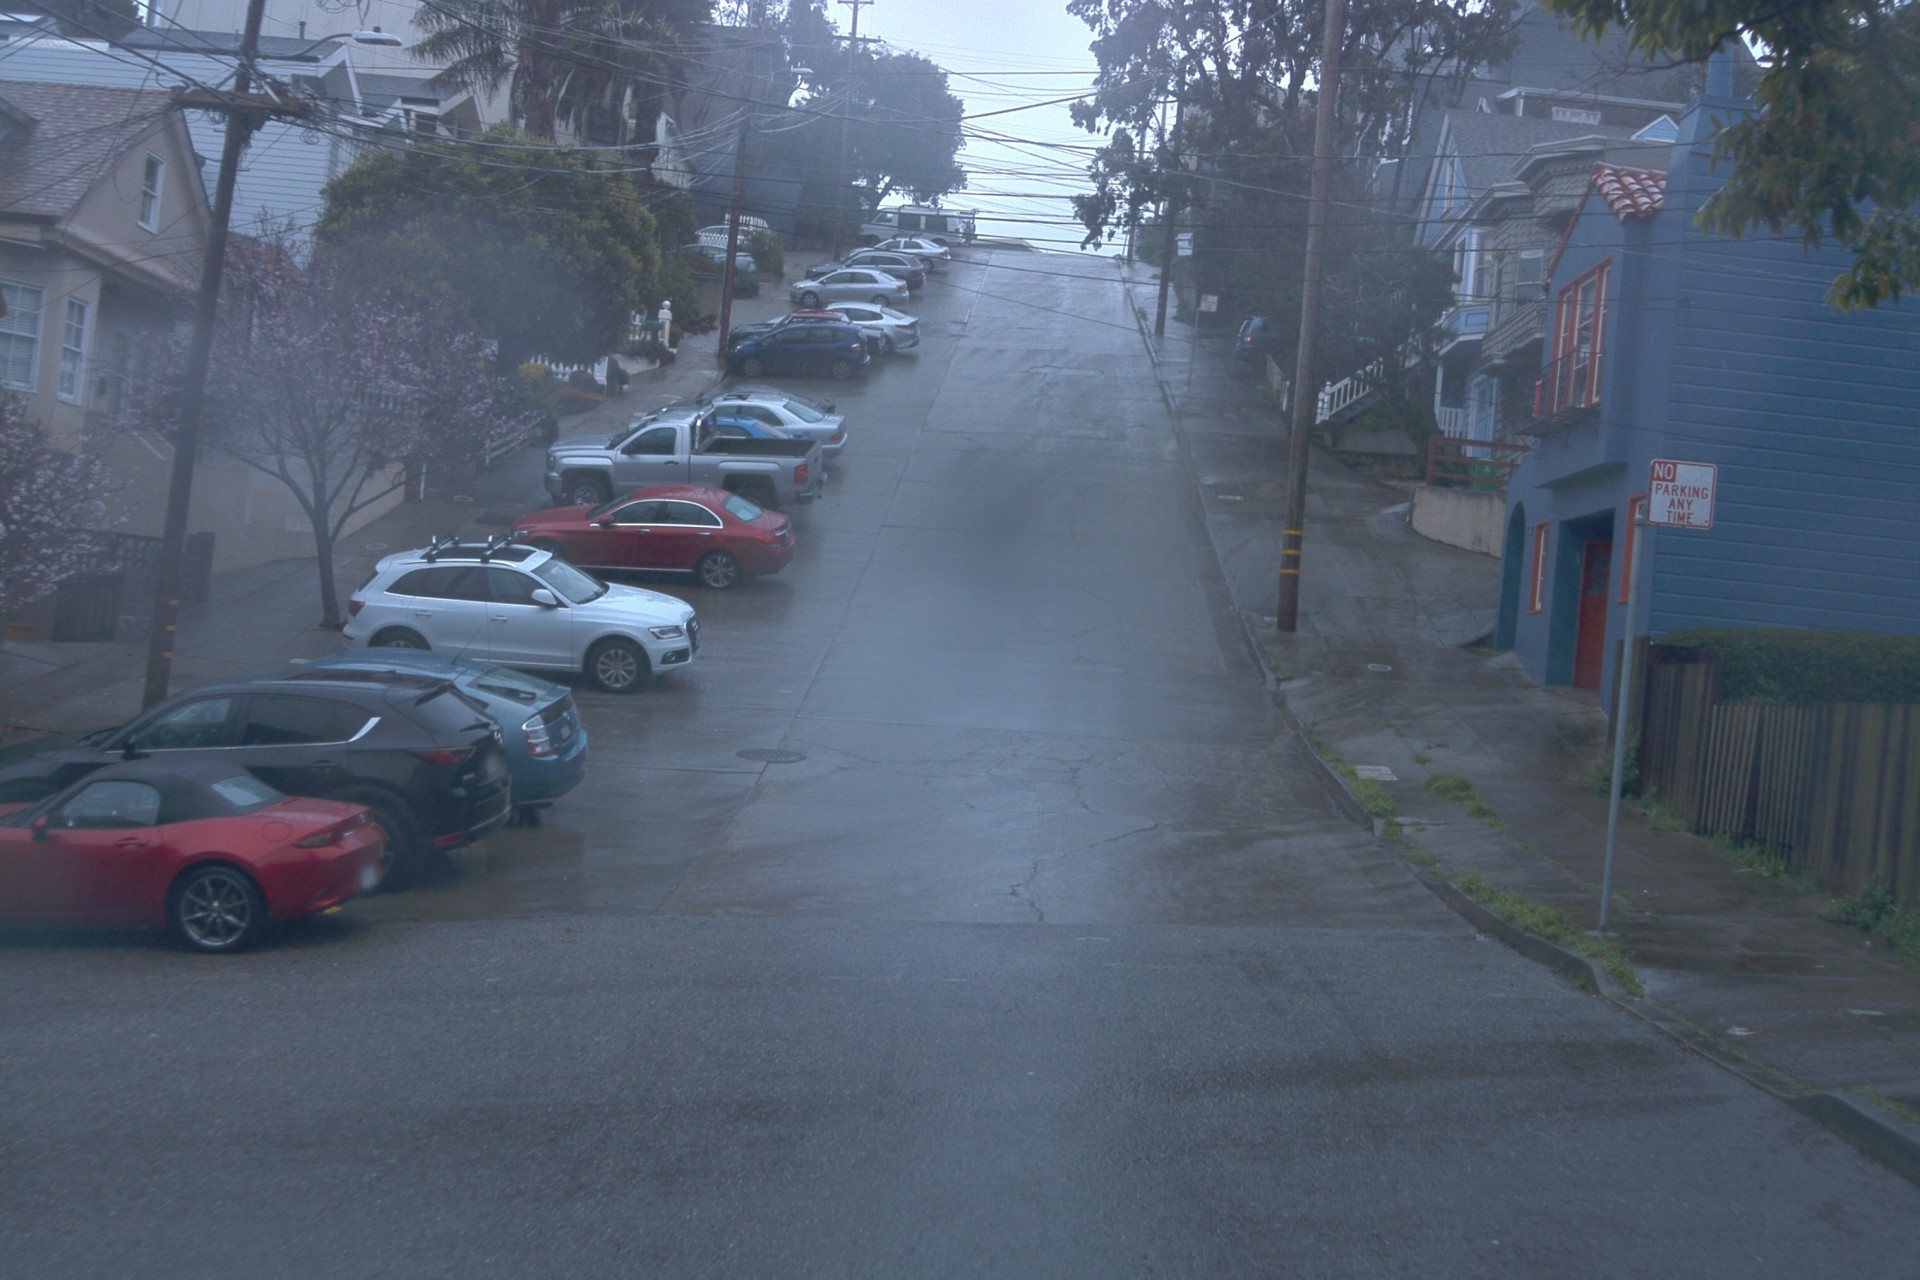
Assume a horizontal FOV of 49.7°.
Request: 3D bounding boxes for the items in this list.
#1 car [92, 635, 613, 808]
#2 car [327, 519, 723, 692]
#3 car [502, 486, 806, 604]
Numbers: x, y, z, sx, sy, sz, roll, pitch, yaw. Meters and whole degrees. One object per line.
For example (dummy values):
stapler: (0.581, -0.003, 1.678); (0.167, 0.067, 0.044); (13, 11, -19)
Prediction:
car: (-5.678, 0.732, 19.714); (4.346, 1.550, 1.983); (0, 0, 4)
car: (-5.622, -0.428, 27.231); (4.700, 2.170, 2.218); (0, 0, 2)
car: (-4.942, -1.528, 33.852); (4.627, 1.820, 1.879); (0, 0, 4)
